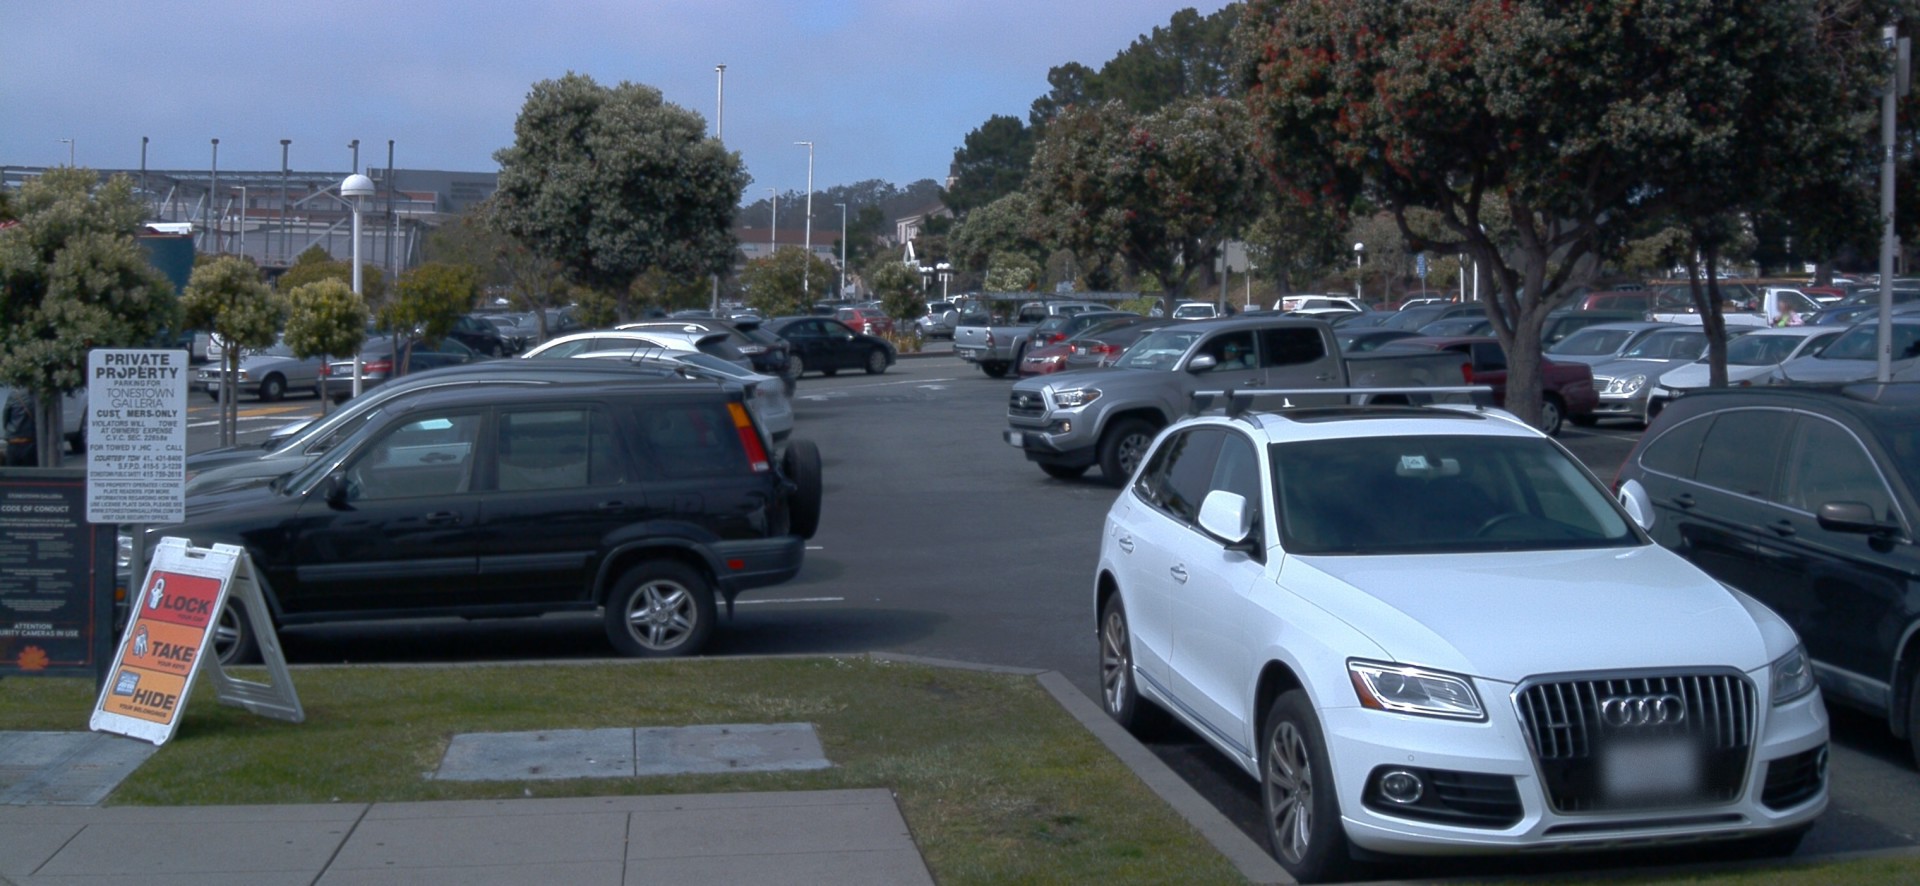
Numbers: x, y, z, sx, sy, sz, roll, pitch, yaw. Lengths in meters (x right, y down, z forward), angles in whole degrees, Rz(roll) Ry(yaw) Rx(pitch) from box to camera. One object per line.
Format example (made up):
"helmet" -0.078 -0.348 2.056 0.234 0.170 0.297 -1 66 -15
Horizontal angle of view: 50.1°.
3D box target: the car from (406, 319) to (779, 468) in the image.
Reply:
"car" -5.016 -0.734 28.280 4.614 1.827 2.022 1 3 13

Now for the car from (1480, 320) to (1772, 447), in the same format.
"car" 10.467 -0.991 32.266 4.210 1.716 2.036 -3 4 -29

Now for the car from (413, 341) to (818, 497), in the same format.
"car" -4.198 -0.348 25.361 4.482 1.667 2.061 1 4 12

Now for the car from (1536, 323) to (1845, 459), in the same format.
"car" 10.613 -0.817 29.825 4.107 1.686 2.013 -3 4 -29

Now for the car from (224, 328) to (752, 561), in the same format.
"car" -4.276 -0.063 19.028 4.297 1.897 2.089 1 3 7

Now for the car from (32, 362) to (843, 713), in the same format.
"car" -3.103 0.471 12.841 4.533 1.777 2.059 -1 3 -10

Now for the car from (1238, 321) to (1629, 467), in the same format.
"car" 6.296 -0.723 27.278 4.861 1.636 2.048 -3 4 -26

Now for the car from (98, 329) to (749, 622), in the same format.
"car" -3.861 0.155 15.524 4.483 1.907 2.053 -1 3 -7

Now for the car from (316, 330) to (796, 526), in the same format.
"car" -4.204 -0.218 21.868 4.605 1.857 2.076 0 3 6

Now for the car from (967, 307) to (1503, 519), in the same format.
"car" 3.090 -0.446 23.111 5.583 2.016 2.307 -2 4 -22
